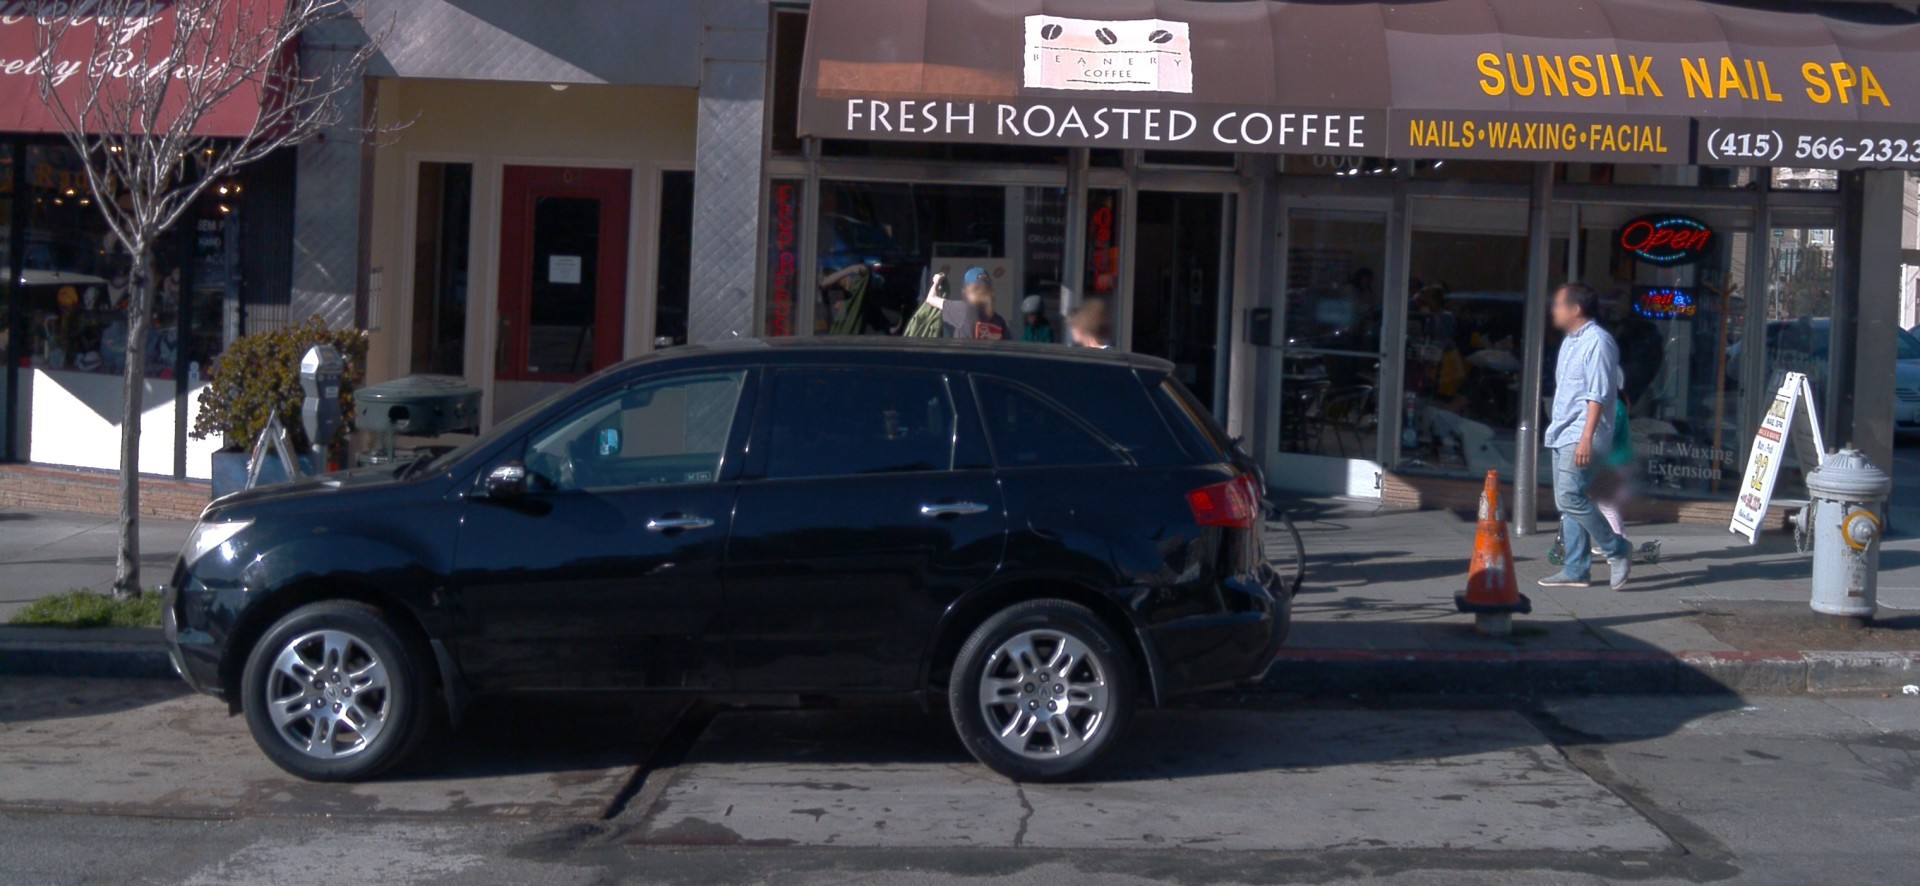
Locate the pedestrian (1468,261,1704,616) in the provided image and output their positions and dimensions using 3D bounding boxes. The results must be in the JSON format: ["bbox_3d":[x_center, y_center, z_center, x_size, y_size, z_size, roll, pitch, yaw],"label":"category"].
[{"bbox_3d":[3.512,-0.066,11.742,0.995,1.885,1.032,1,2,-1],"label":"pedestrian"}]

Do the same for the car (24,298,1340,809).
[{"bbox_3d":[-1.029,0.349,8.856,4.928,1.774,2.079,1,4,-1],"label":"car"}]

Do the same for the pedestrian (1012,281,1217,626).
[{"bbox_3d":[0.837,0.009,11.425,1.044,1.746,1.146,1,3,2],"label":"pedestrian"}]

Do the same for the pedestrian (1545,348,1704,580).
[{"bbox_3d":[3.985,0.109,12.487,0.720,1.307,0.671,1,2,-1],"label":"pedestrian"}]

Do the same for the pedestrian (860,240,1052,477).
[{"bbox_3d":[-0.046,-0.603,13.811,0.882,1.456,1.340,0,4,-19],"label":"pedestrian"}]
